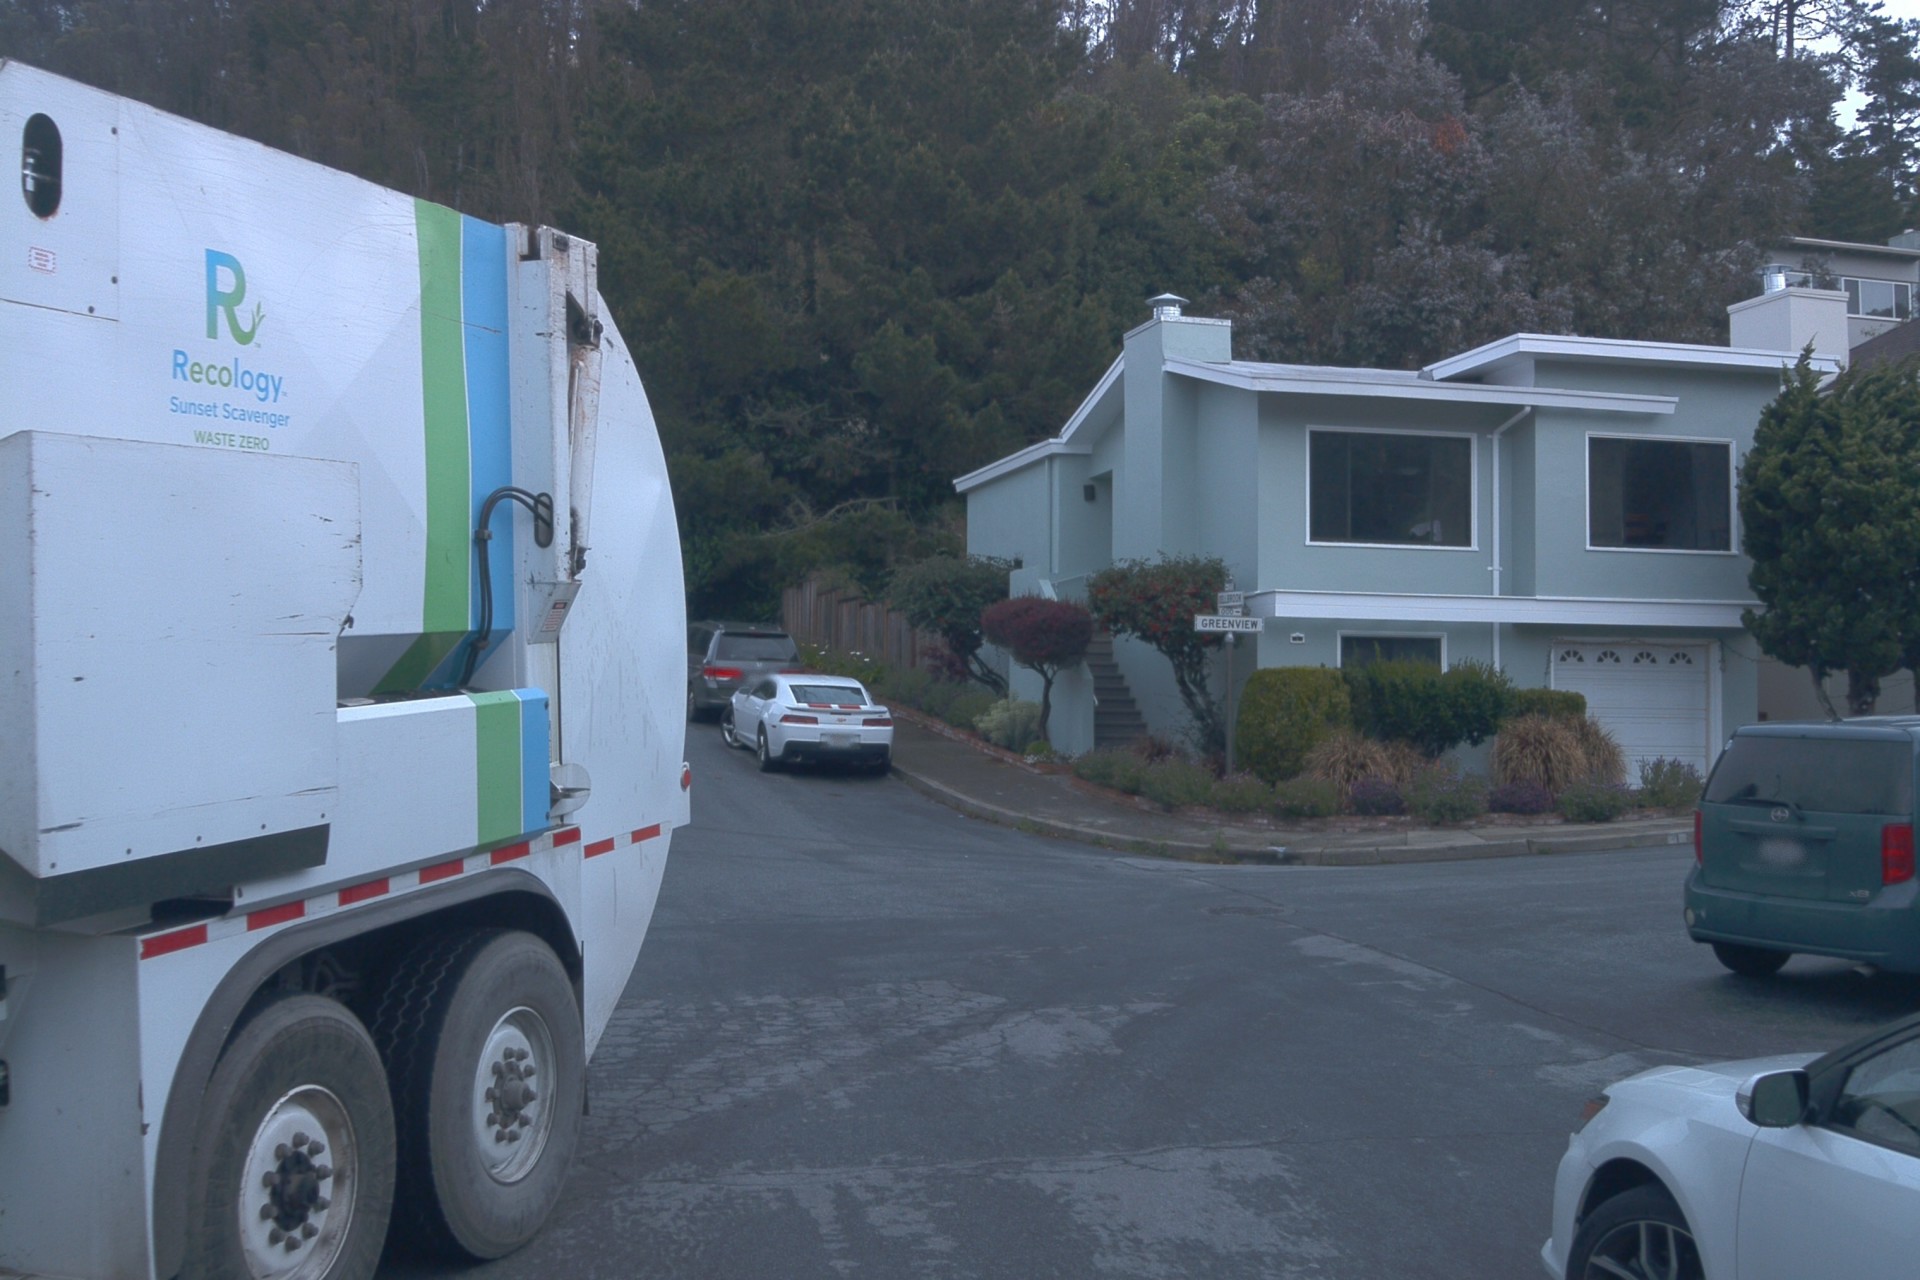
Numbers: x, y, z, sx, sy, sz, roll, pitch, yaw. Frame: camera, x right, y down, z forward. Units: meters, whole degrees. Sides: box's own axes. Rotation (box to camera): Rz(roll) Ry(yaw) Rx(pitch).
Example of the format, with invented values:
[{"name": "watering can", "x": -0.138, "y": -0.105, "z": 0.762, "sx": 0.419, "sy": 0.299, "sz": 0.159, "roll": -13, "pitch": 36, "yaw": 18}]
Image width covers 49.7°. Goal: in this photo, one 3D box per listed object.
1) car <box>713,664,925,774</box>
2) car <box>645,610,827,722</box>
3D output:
[{"name": "car", "x": -2.251, "y": 1.140, "z": 31.628, "sx": 2.197, "sy": 1.510, "sz": 4.909, "roll": 0, "pitch": 0, "yaw": -17}, {"name": "car", "x": -4.187, "y": 0.452, "z": 38.017, "sx": 2.316, "sy": 1.910, "sz": 4.712, "roll": 0, "pitch": 0, "yaw": -19}]
